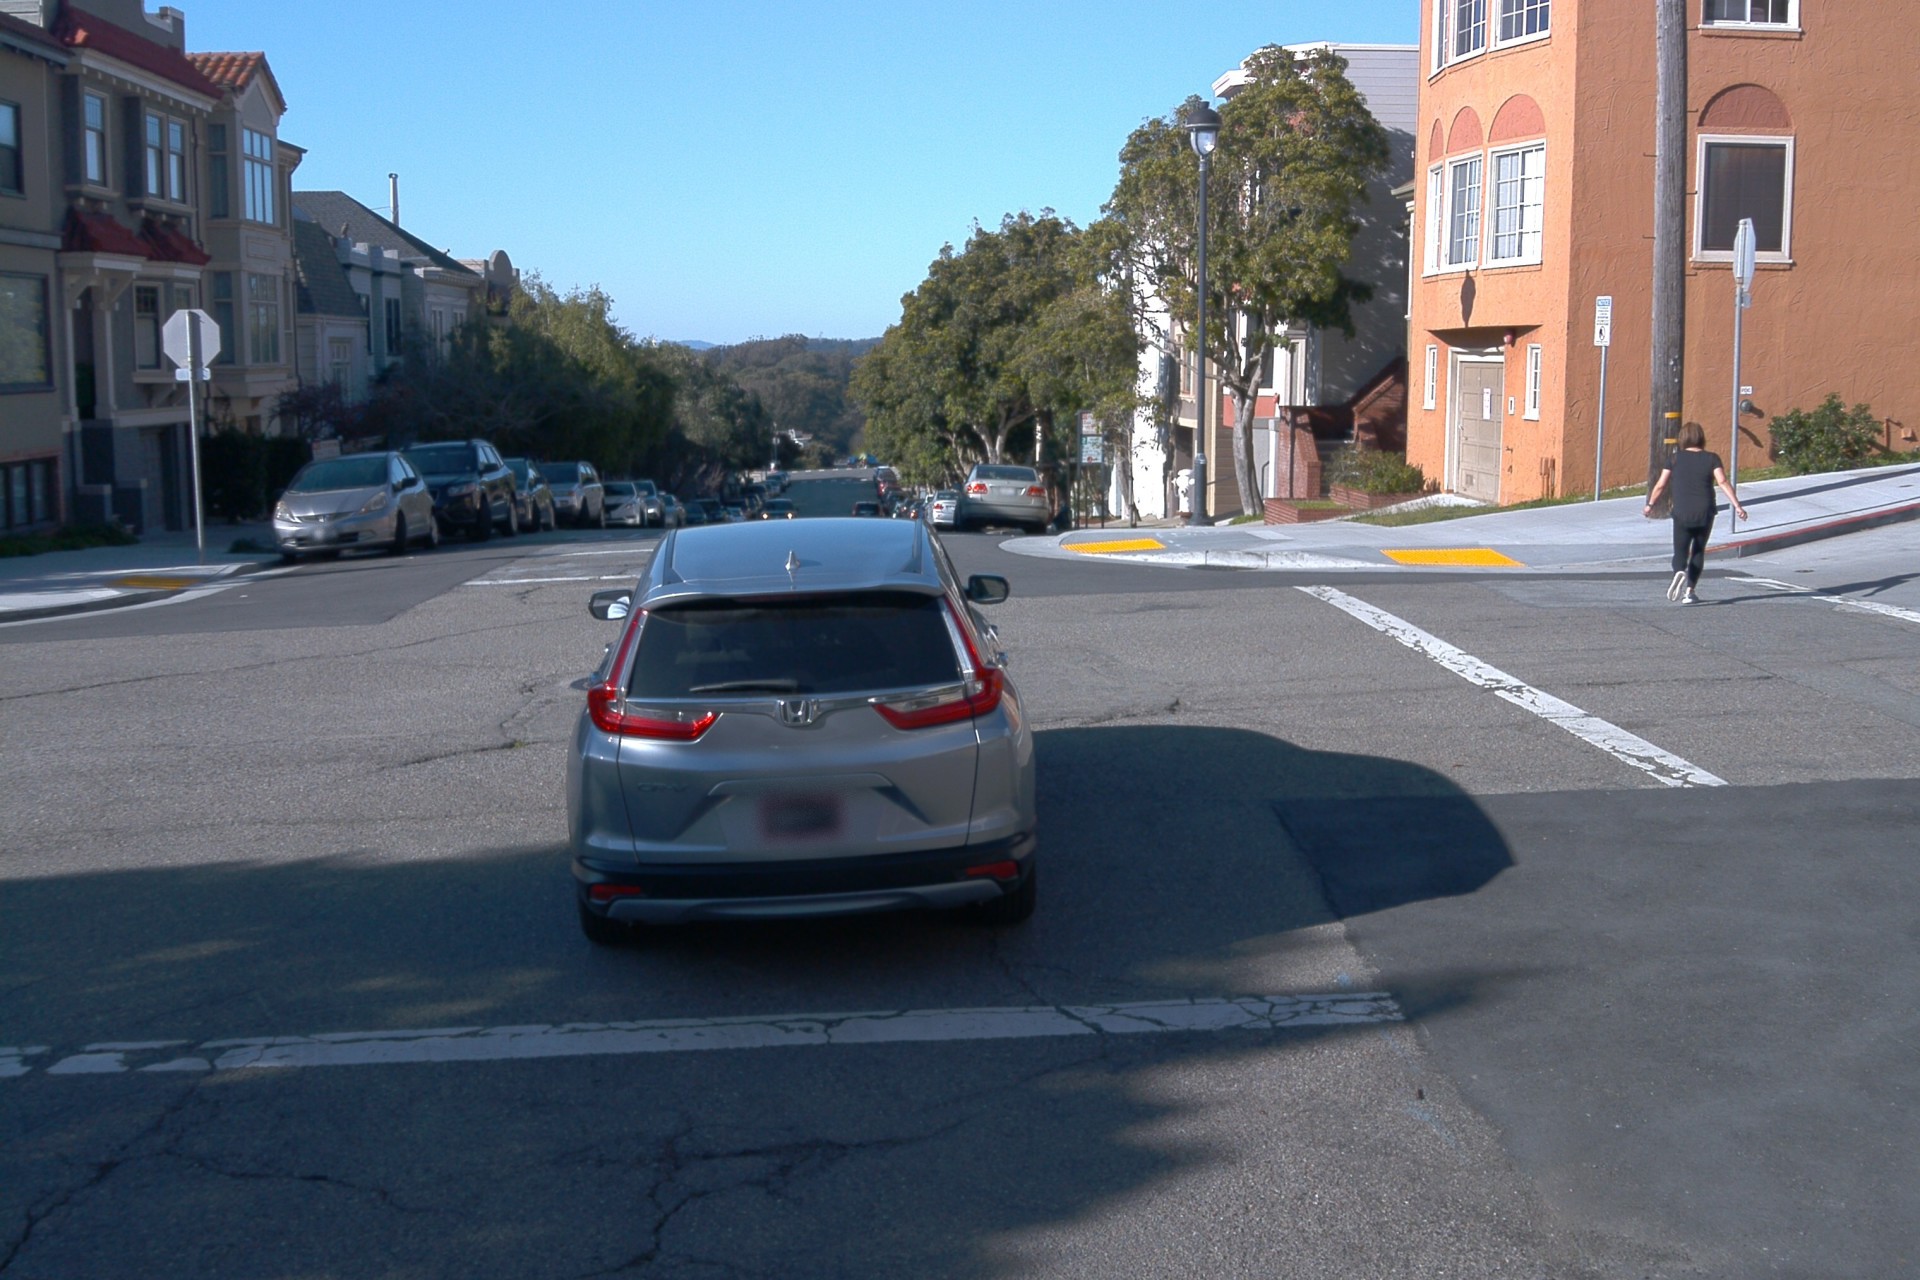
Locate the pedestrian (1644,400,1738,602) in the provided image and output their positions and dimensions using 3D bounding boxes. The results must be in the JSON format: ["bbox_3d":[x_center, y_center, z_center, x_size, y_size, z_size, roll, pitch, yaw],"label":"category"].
[{"bbox_3d":[6.192,-1.145,17.571,0.731,1.620,1.128,0,0,19],"label":"pedestrian"}]

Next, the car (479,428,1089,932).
[{"bbox_3d":[-0.766,0.156,9.807,2.190,1.800,4.696,0,0,-3],"label":"car"}]
